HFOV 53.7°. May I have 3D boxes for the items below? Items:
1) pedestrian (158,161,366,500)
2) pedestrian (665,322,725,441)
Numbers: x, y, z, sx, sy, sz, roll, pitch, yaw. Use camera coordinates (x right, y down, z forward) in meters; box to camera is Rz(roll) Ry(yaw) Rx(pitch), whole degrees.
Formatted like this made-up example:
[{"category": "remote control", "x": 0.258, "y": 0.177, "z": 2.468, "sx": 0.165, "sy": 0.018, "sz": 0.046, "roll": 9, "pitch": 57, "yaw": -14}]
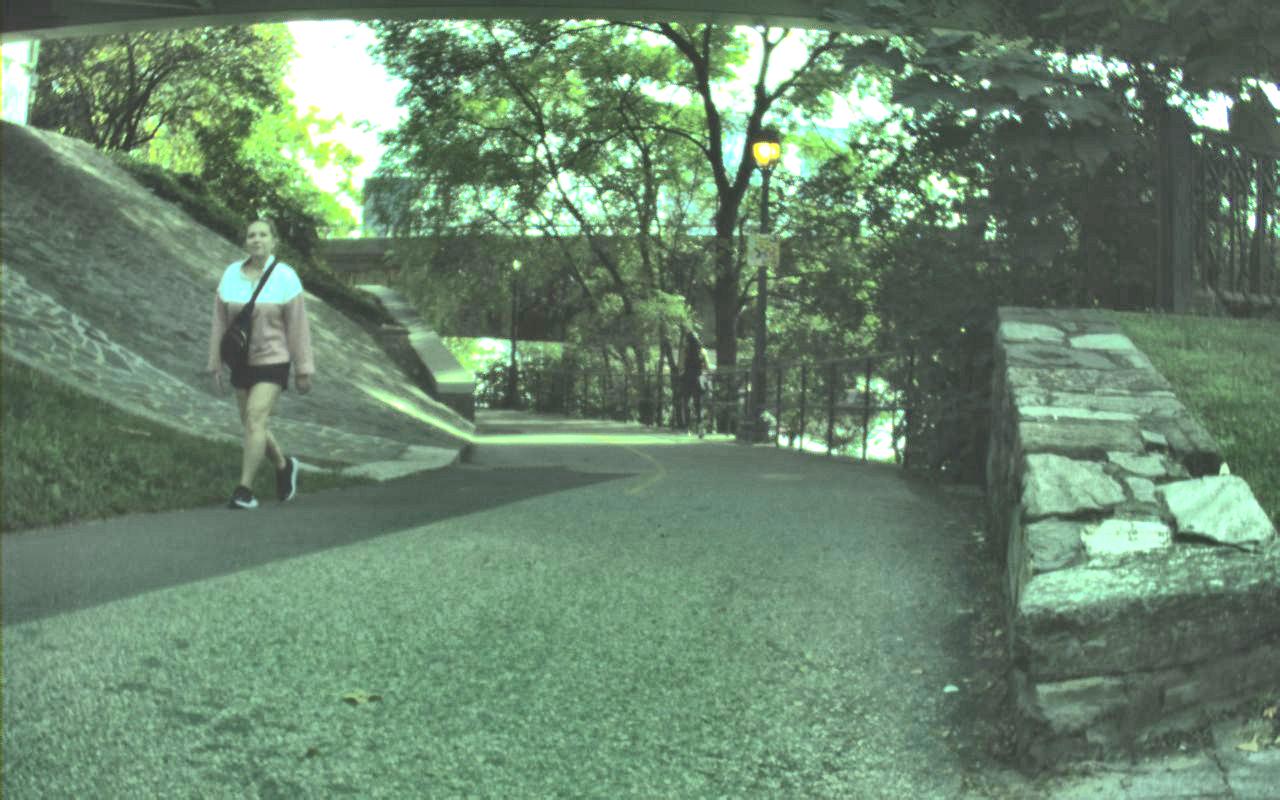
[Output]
[{"category": "pedestrian", "x": -2.009, "y": -0.352, "z": 6.432, "sx": 0.812, "sy": 1.658, "sz": 0.869, "roll": 0, "pitch": 0, "yaw": 11}, {"category": "pedestrian", "x": 0.823, "y": -0.285, "z": 19.220, "sx": 0.877, "sy": 1.767, "sz": 0.931, "roll": 0, "pitch": 0, "yaw": 1}]
